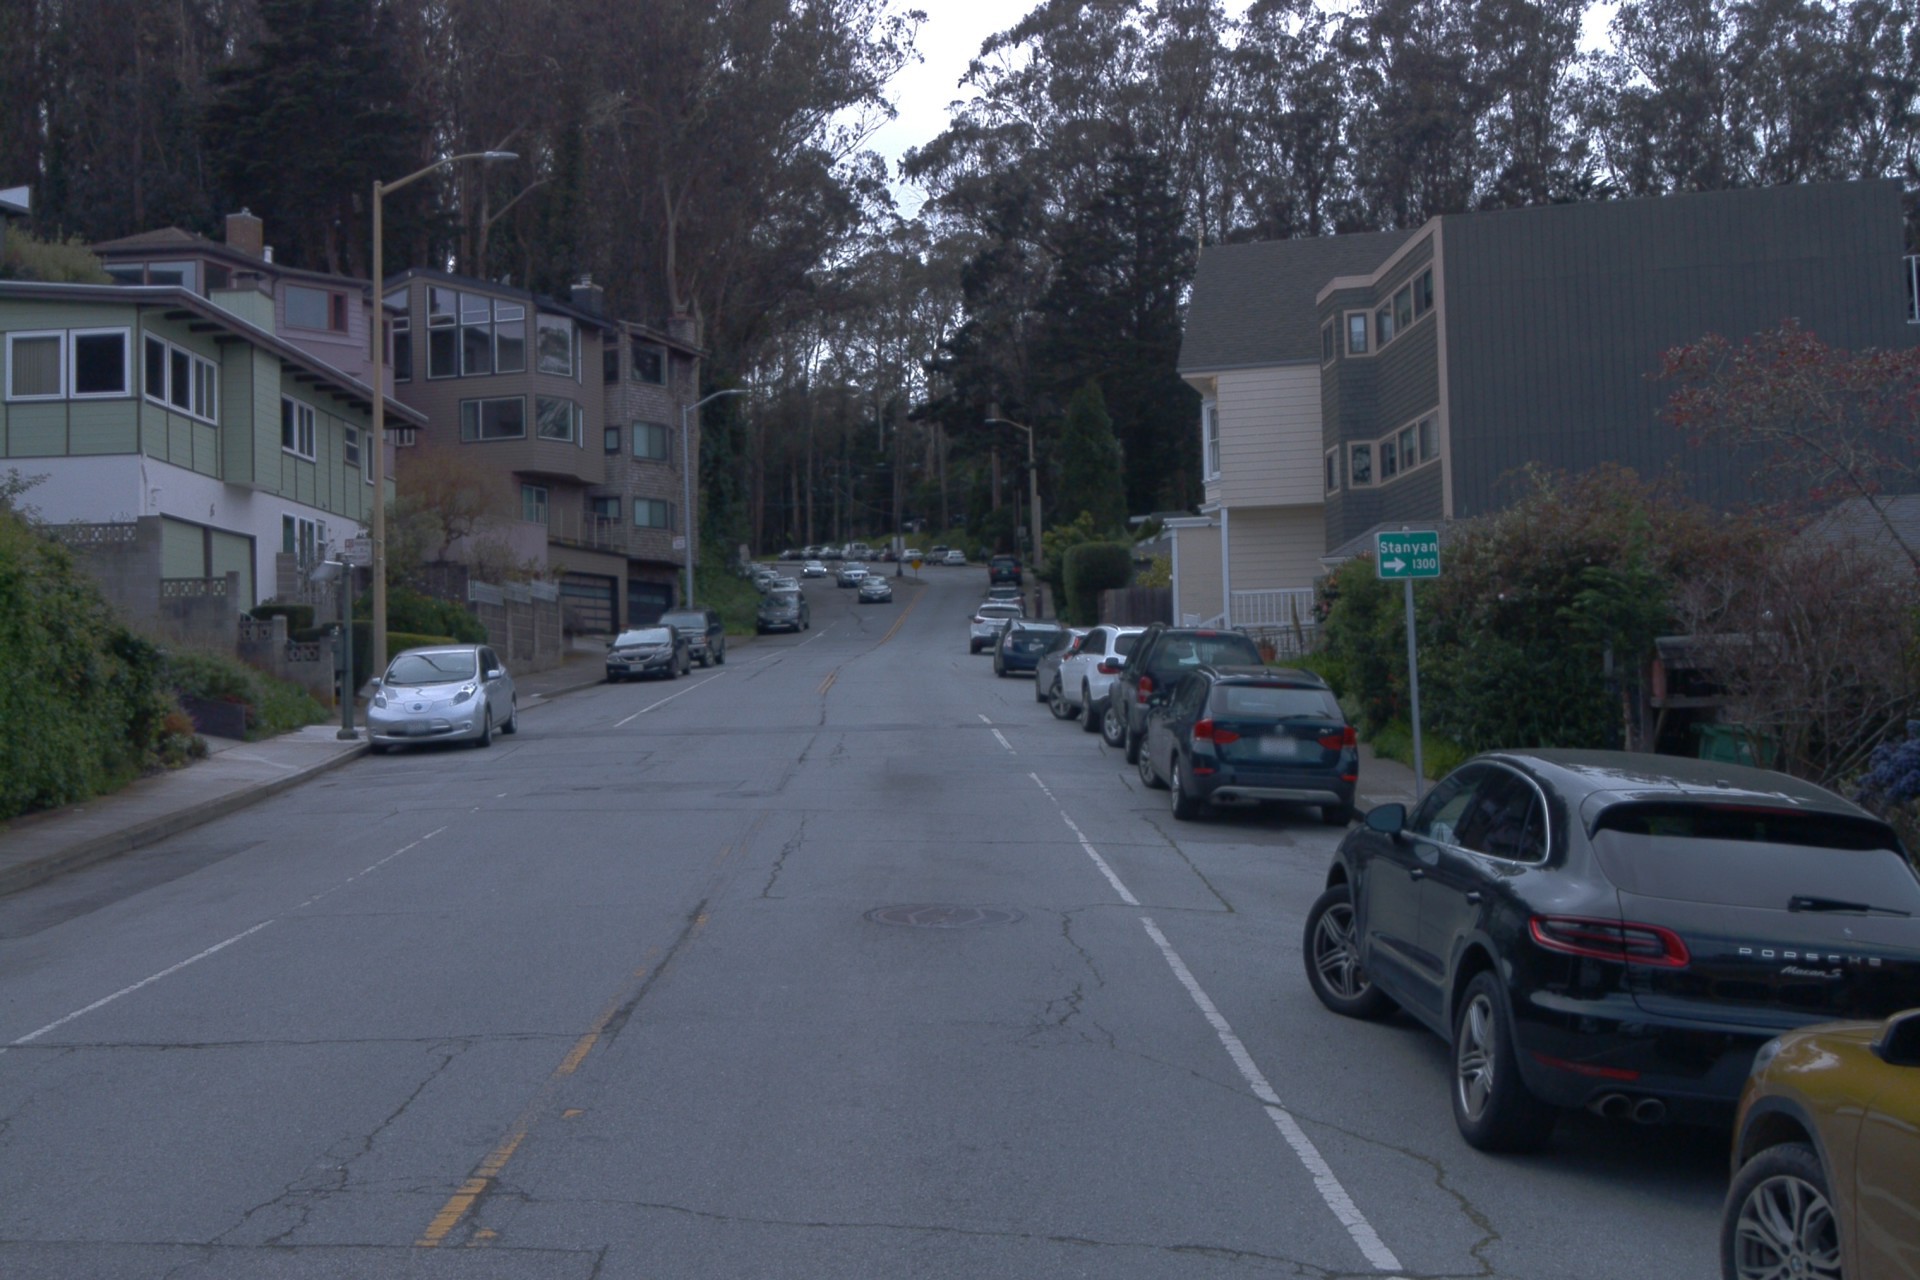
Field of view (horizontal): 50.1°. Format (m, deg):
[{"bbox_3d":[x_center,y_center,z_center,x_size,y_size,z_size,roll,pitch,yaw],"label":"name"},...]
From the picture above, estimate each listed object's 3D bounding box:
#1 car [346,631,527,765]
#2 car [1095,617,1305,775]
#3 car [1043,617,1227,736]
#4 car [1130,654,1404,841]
[{"bbox_3d":[-7.993,0.821,31.799,1.969,1.870,4.472,0,1,-4],"label":"car"},{"bbox_3d":[3.072,0.657,27.321,2.204,1.910,4.614,0,1,0],"label":"car"},{"bbox_3d":[2.702,0.515,32.951,2.090,1.740,4.852,0,1,-5],"label":"car"},{"bbox_3d":[3.121,1.047,21.907,2.171,1.690,4.493,0,1,-1],"label":"car"}]
